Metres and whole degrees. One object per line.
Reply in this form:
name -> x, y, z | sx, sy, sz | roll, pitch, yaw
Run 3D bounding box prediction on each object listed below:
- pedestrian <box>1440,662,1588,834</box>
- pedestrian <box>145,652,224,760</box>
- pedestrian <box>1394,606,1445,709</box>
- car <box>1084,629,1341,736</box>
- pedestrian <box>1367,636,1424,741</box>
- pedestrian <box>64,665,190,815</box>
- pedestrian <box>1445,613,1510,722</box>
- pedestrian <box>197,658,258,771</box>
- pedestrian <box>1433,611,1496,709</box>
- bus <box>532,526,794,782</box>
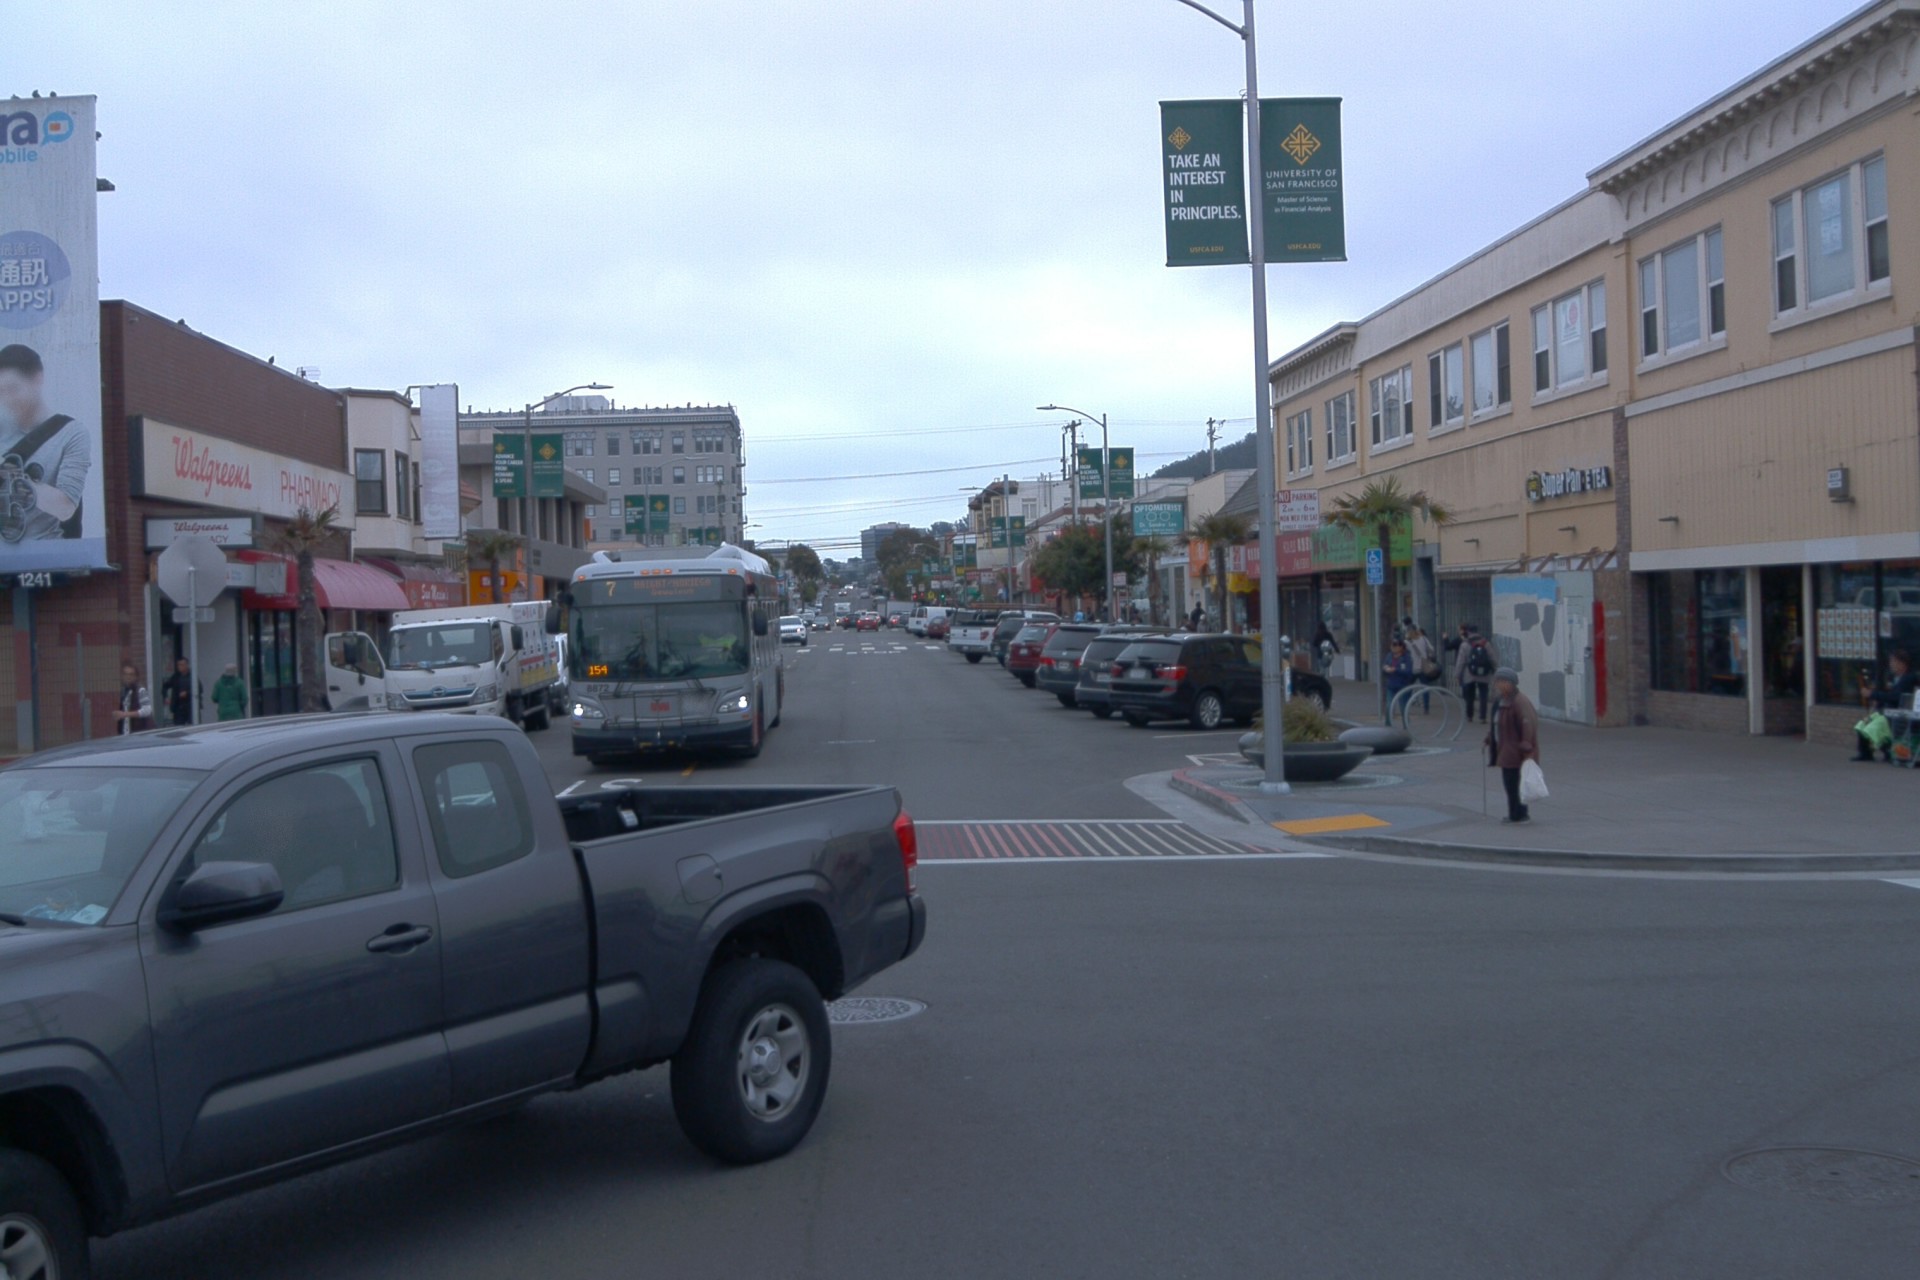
pedestrian -> 5.023, 0.952, 18.685 | 0.827, 1.477, 1.073 | -1, 1, -20
pedestrian -> -13.180, 1.112, 34.960 | 0.912, 1.791, 0.926 | 0, 1, 9
pedestrian -> 8.242, 0.301, 36.875 | 0.711, 1.824, 0.916 | 0, 1, 1
car -> 4.548, 0.699, 36.695 | 4.509, 1.740, 2.044 | -1, 1, -41
pedestrian -> 6.759, 0.741, 31.905 | 0.750, 1.598, 0.775 | 0, 1, 21
pedestrian -> -10.622, 1.244, 26.230 | 1.256, 1.820, 0.888 | -1, 1, -40
pedestrian -> 8.538, 0.449, 33.956 | 0.924, 1.770, 0.949 | 0, 1, 6
pedestrian -> -11.598, 1.164, 32.578 | 0.766, 1.713, 1.104 | 0, 1, -12
pedestrian -> 9.099, 0.348, 37.116 | 0.952, 1.742, 0.808 | 0, 1, 1
bus -> -4.557, 0.083, 34.375 | 3.212, 3.480, 12.601 | 0, 1, -3
